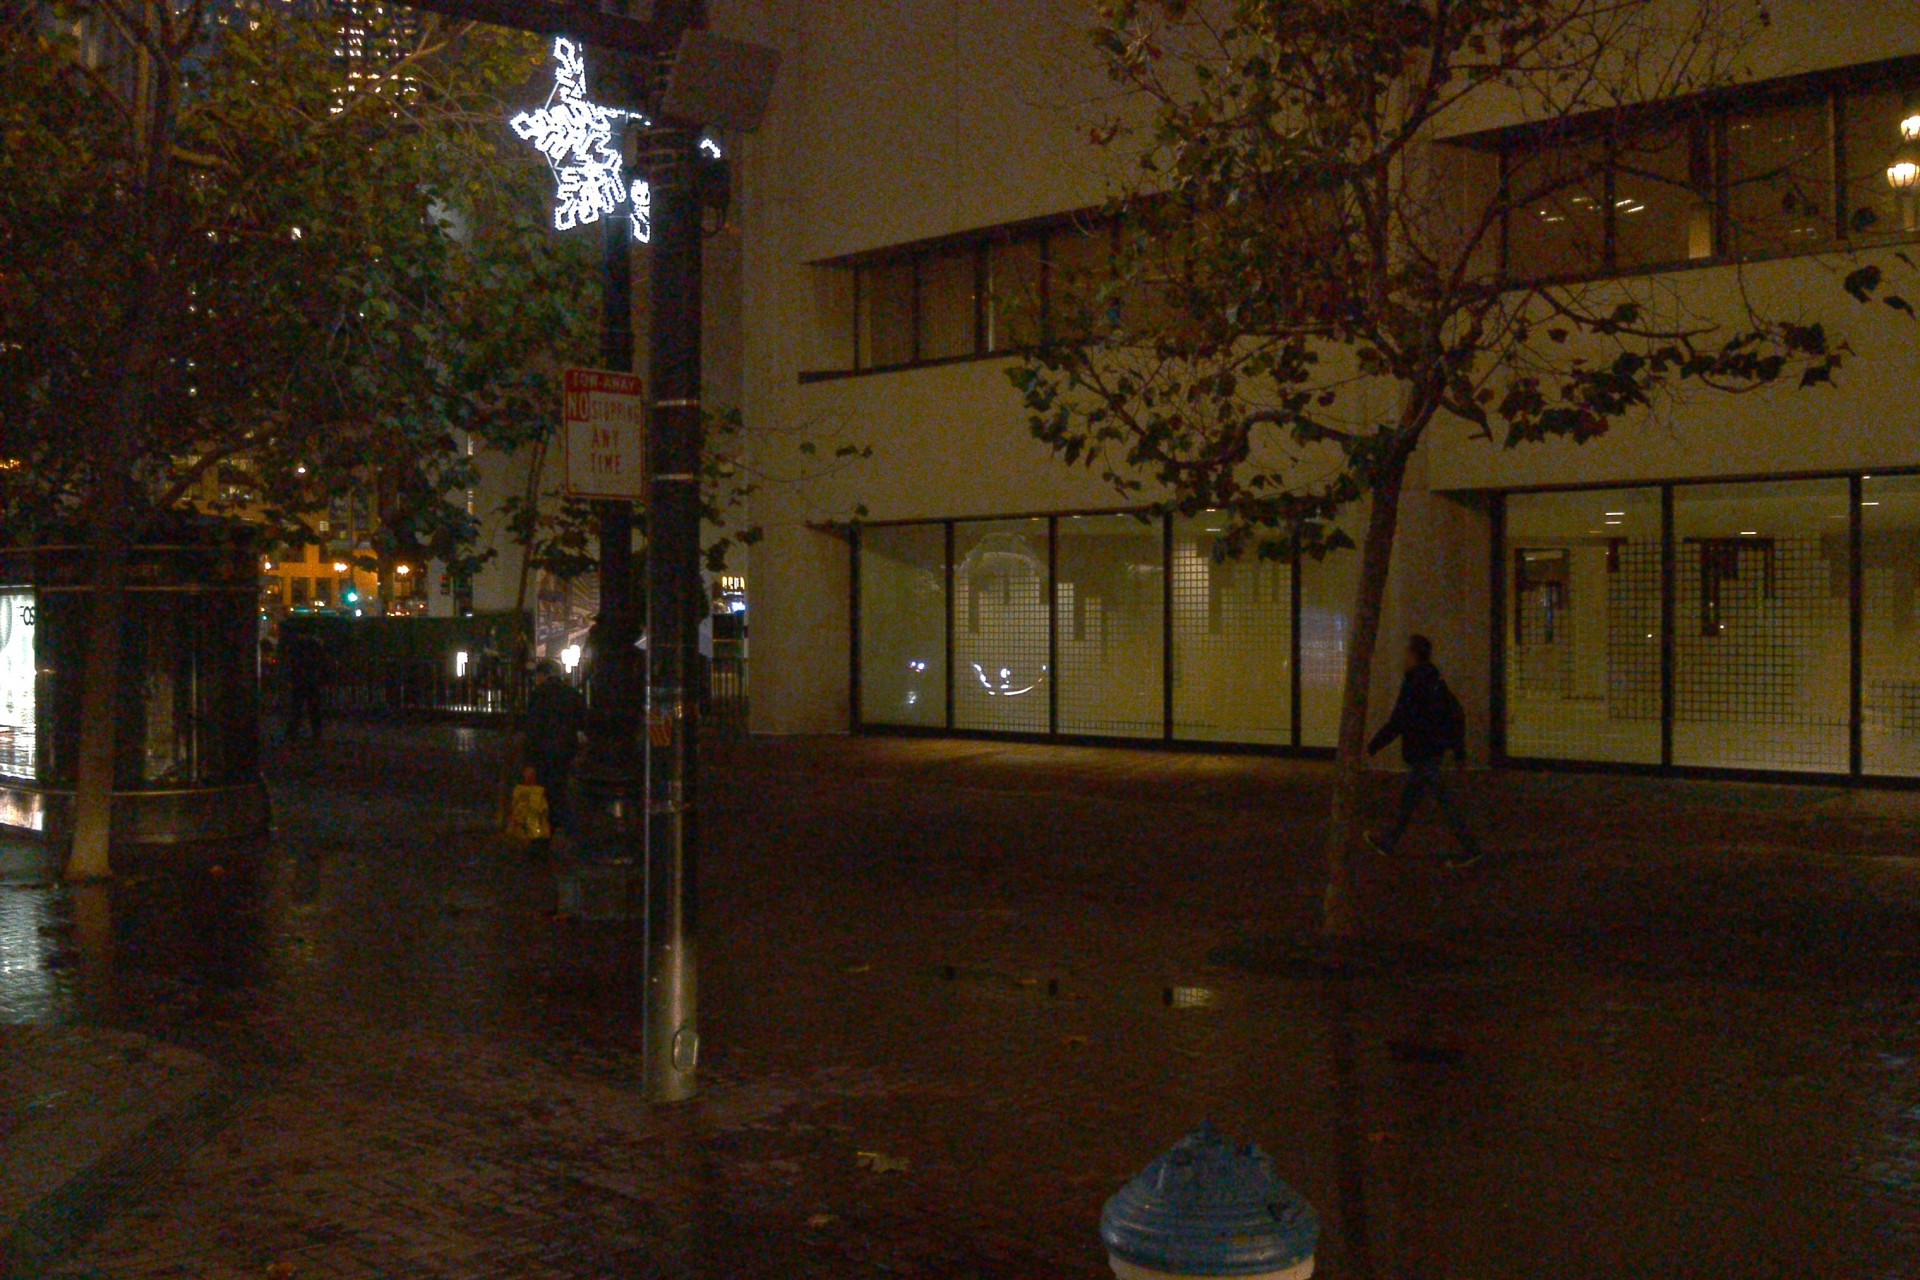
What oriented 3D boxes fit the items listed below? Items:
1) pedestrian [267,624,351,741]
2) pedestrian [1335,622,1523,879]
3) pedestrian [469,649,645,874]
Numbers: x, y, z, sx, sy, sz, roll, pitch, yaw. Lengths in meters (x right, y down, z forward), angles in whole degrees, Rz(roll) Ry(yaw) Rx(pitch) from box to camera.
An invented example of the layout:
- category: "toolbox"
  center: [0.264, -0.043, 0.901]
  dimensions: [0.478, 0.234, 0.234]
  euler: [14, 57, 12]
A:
- category: "pedestrian"
  center: [-10.098, 0.650, 31.768]
  dimensions: [0.860, 1.780, 1.104]
  euler: [1, 0, -40]
- category: "pedestrian"
  center: [3.529, 0.798, 15.466]
  dimensions: [0.757, 1.850, 1.145]
  euler: [1, 0, -41]
- category: "pedestrian"
  center: [-3.274, 0.948, 16.640]
  dimensions: [1.066, 1.740, 0.941]
  euler: [0, 0, 42]
